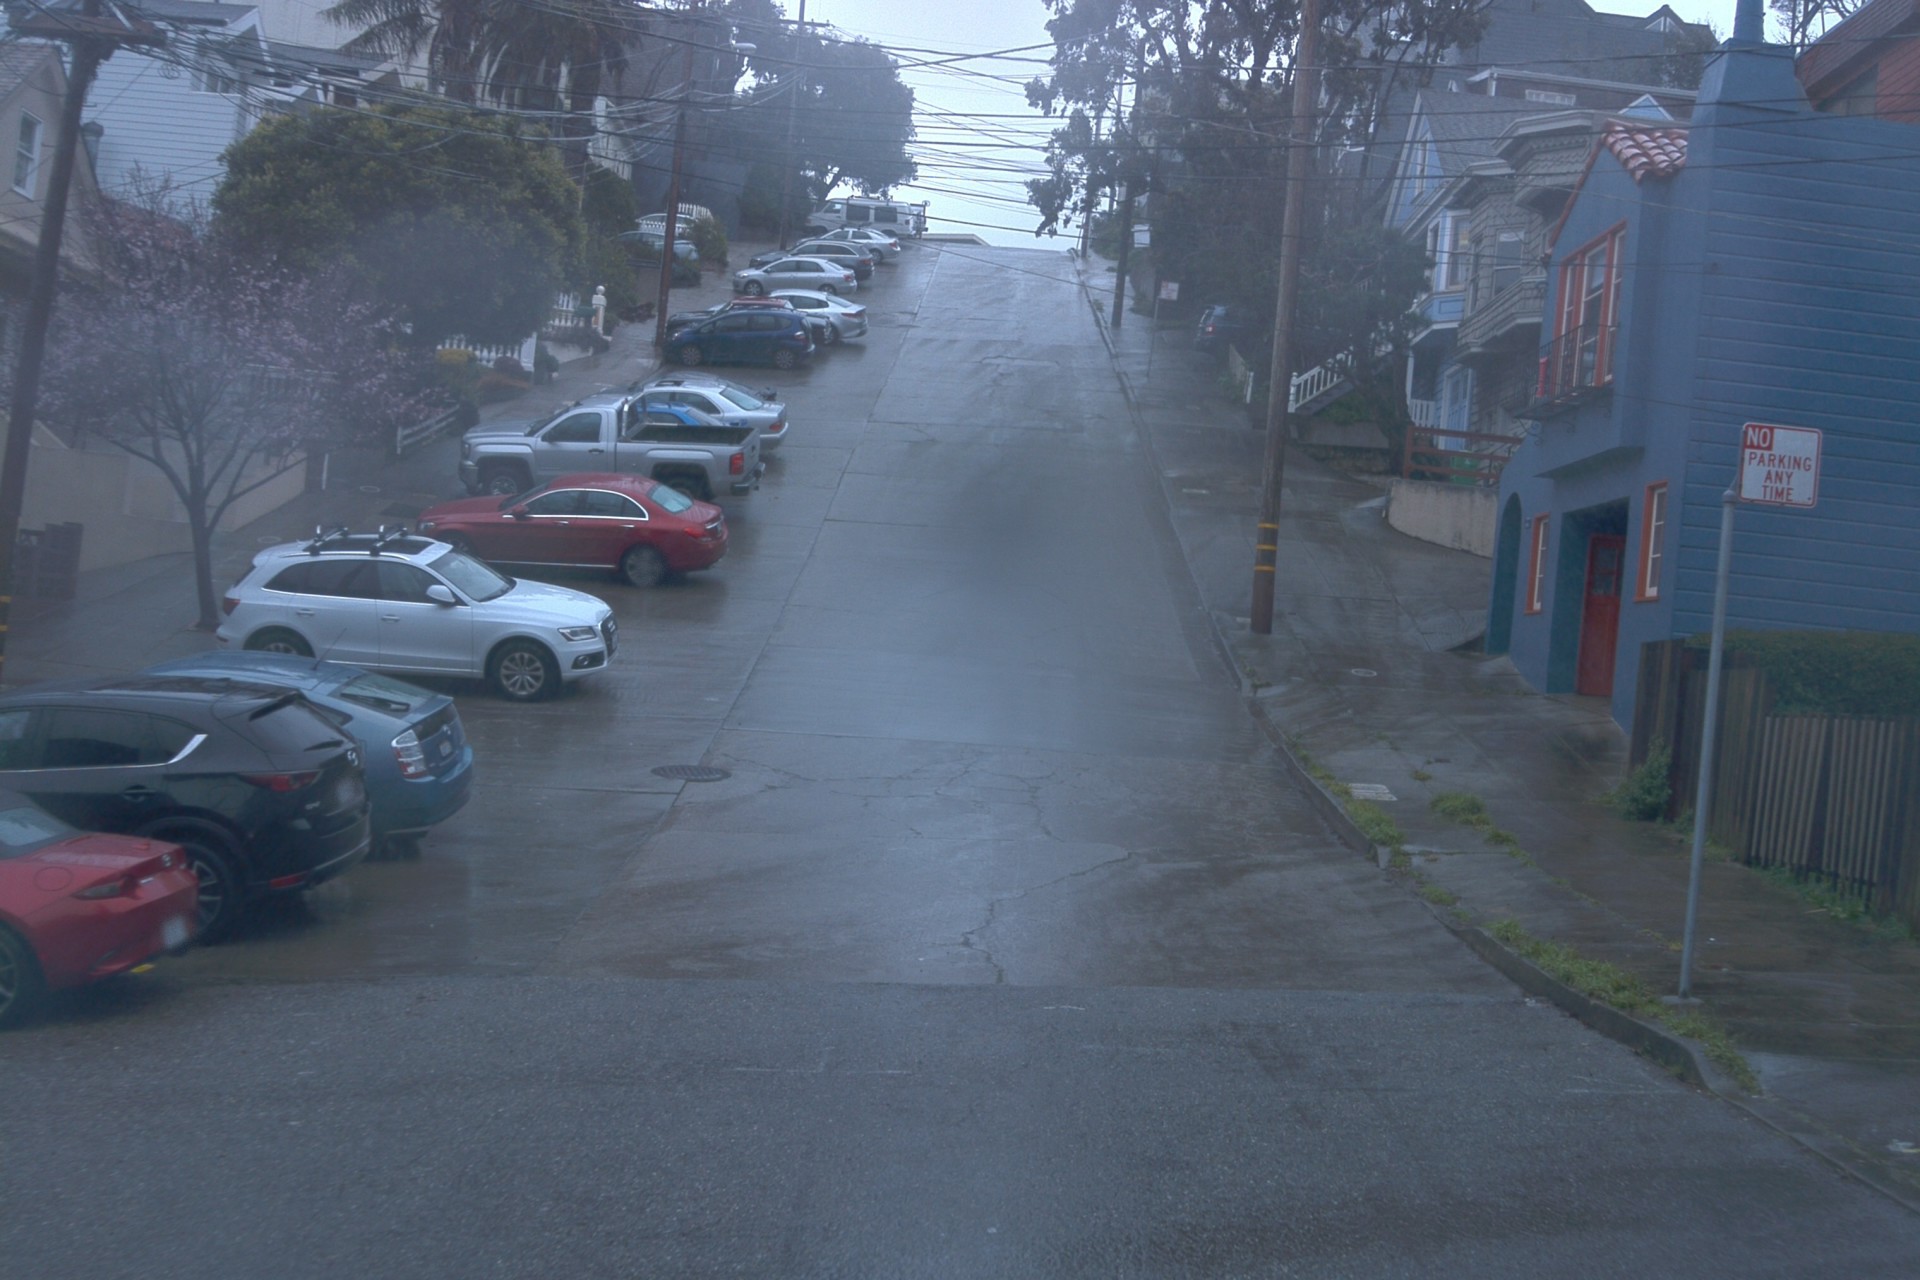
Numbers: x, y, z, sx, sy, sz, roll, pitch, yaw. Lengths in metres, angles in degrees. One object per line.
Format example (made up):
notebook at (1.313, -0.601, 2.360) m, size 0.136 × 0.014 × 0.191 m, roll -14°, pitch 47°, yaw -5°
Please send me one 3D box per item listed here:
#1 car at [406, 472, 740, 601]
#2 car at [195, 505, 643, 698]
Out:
car at (-5.737, -1.518, 31.060) m, size 4.626 × 1.820 × 1.879 m, roll 0°, pitch 0°, yaw 2°
car at (-6.268, -0.430, 24.432) m, size 4.700 × 2.170 × 2.218 m, roll 0°, pitch 0°, yaw 1°
